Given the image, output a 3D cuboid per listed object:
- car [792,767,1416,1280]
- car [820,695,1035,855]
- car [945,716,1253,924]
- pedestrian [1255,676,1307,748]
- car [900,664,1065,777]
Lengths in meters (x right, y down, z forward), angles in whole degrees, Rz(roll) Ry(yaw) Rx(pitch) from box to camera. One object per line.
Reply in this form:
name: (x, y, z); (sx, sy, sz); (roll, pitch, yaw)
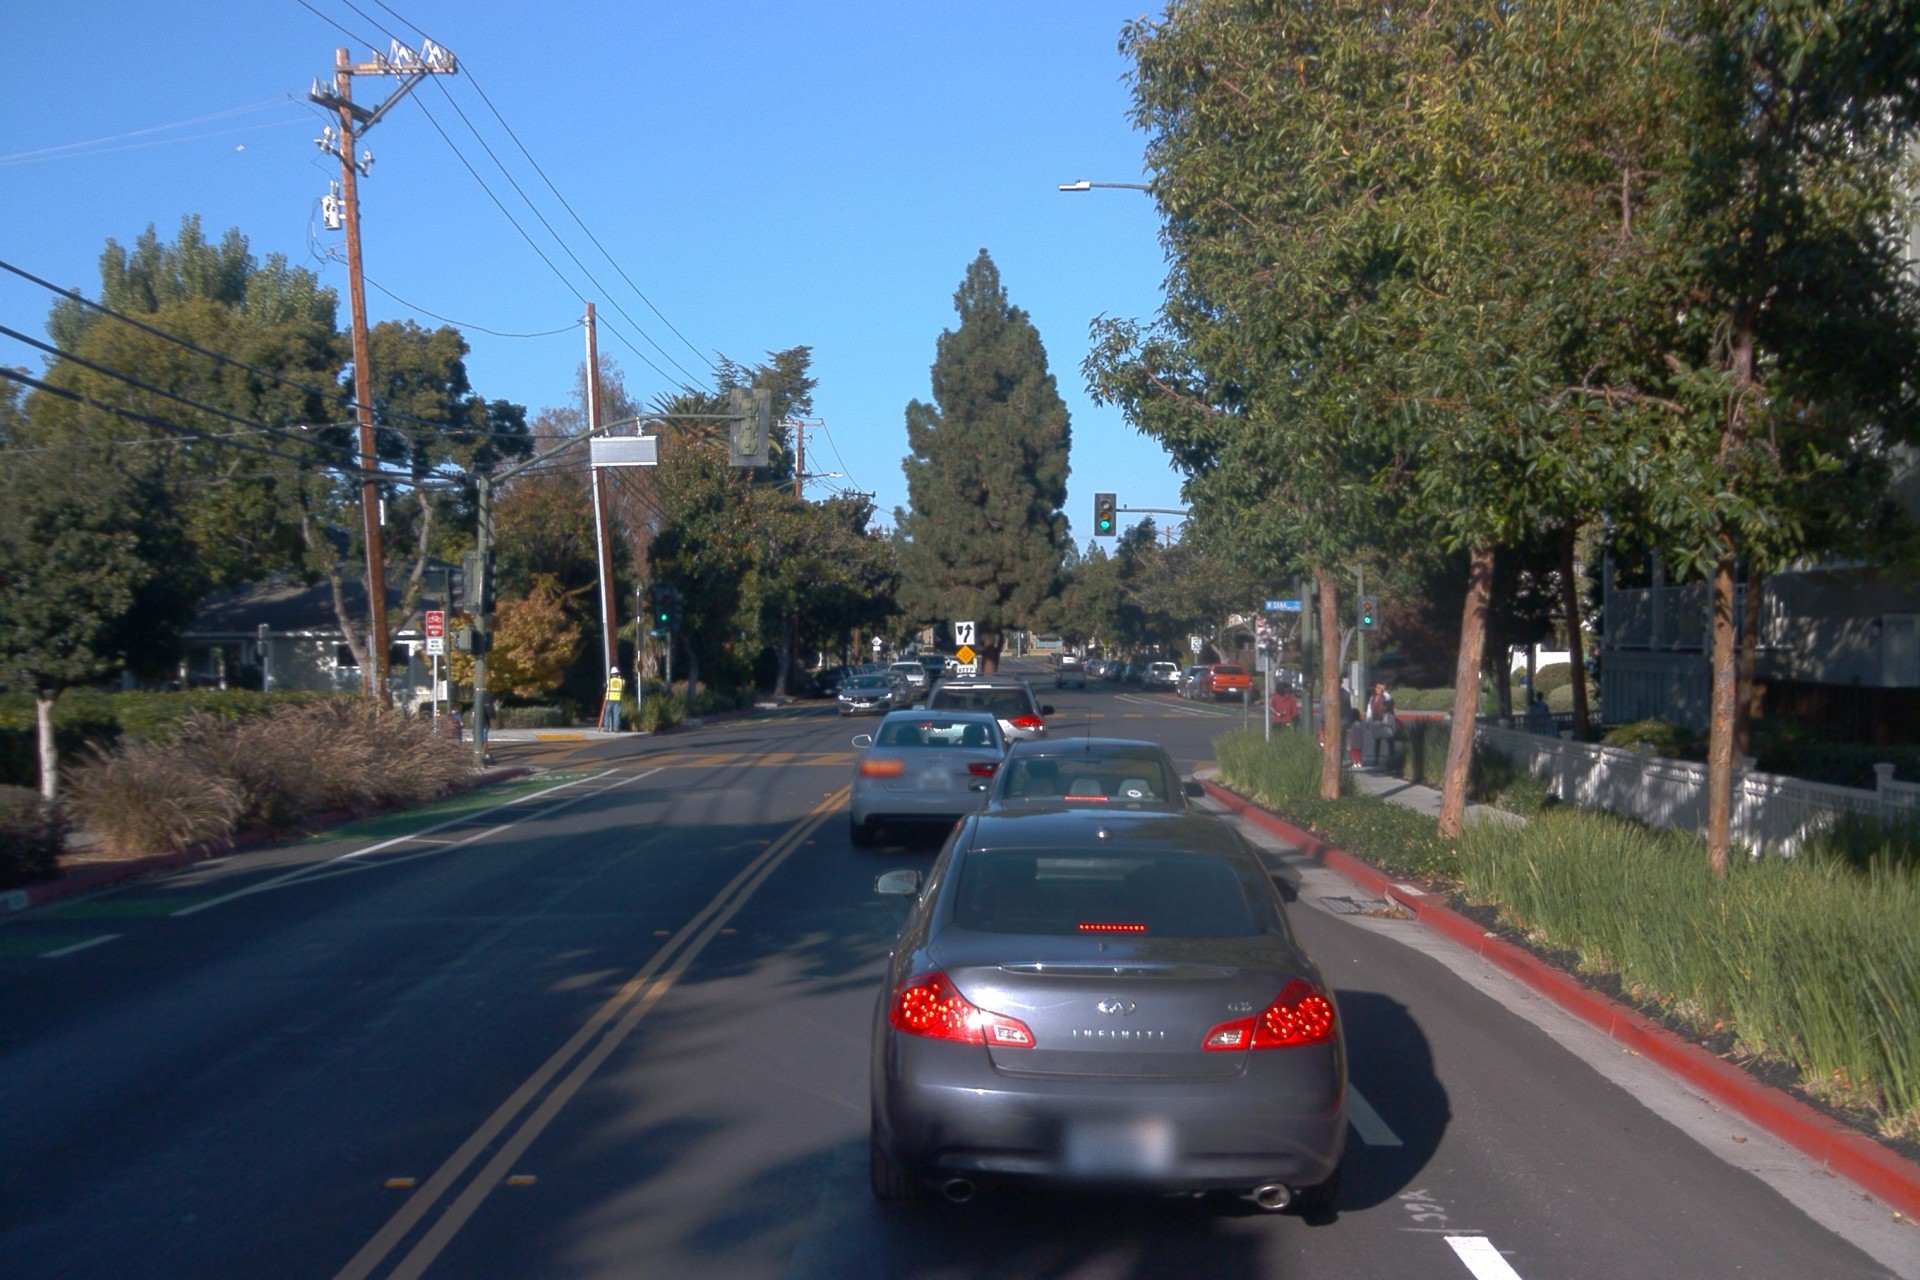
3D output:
car: (0.567, 1.432, 9.064); (2.033, 1.460, 4.435); (1, 0, 3)
car: (-0.256, 1.447, 23.583); (2.122, 1.500, 4.397); (1, 0, 3)
car: (0.993, 1.271, 15.845); (2.028, 1.210, 4.035); (1, 0, 2)
pedestrian: (5.805, 1.296, 37.573); (0.847, 1.260, 0.860); (1, 0, 14)
car: (0.374, 1.172, 31.907); (2.317, 1.510, 4.744); (1, 0, 1)
